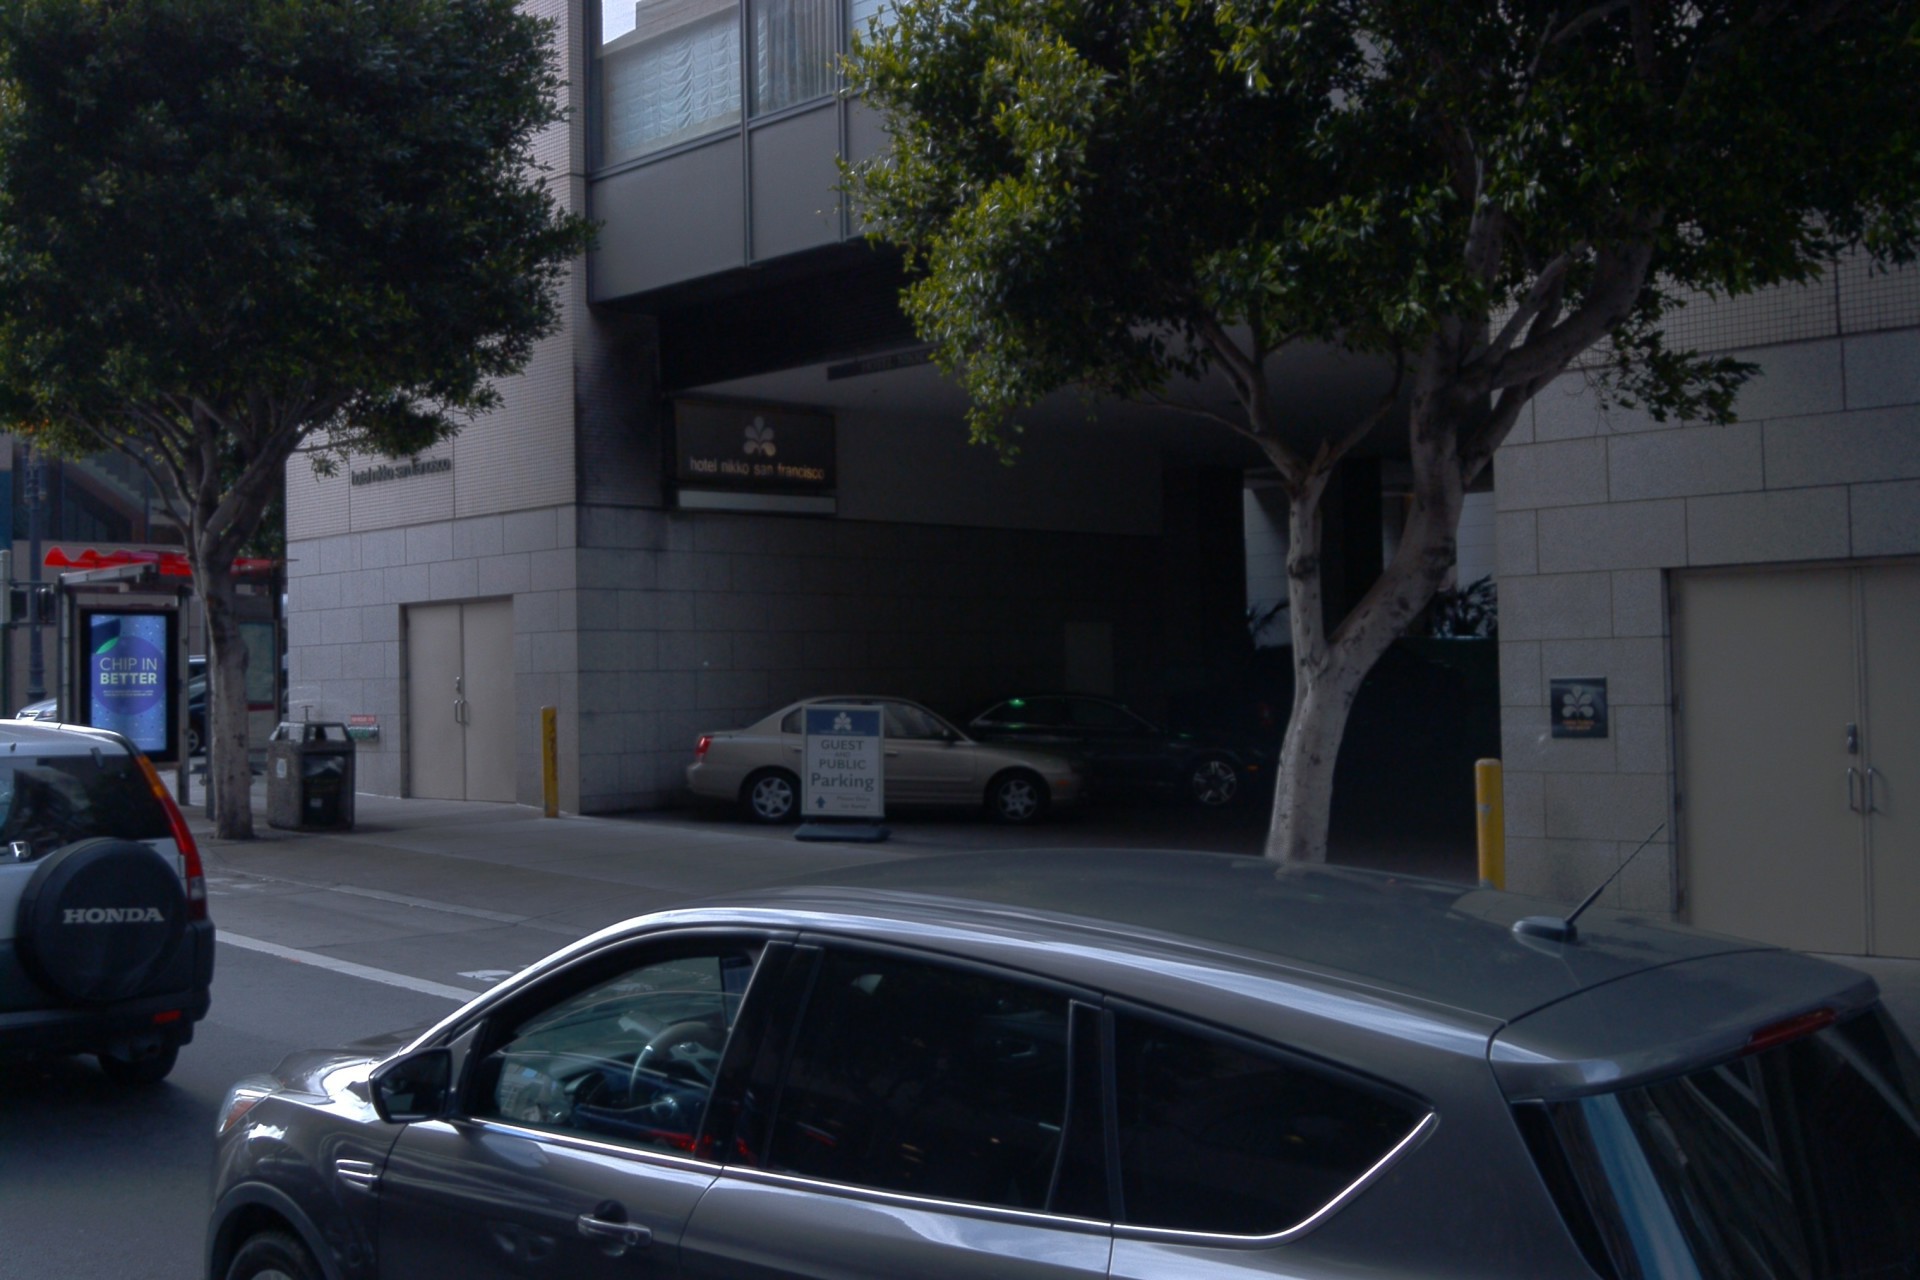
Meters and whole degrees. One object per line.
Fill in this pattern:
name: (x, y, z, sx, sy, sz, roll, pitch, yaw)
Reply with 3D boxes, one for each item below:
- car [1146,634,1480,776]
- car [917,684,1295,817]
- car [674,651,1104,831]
car: (5.577, 0.922, 31.956, 5.637, 1.970, 2.175, -1, 1, -44)
car: (1.725, 1.317, 25.124, 4.429, 1.500, 1.858, 0, 0, 1)
car: (-0.757, 1.072, 22.613, 4.538, 1.860, 1.771, 0, 0, 0)
